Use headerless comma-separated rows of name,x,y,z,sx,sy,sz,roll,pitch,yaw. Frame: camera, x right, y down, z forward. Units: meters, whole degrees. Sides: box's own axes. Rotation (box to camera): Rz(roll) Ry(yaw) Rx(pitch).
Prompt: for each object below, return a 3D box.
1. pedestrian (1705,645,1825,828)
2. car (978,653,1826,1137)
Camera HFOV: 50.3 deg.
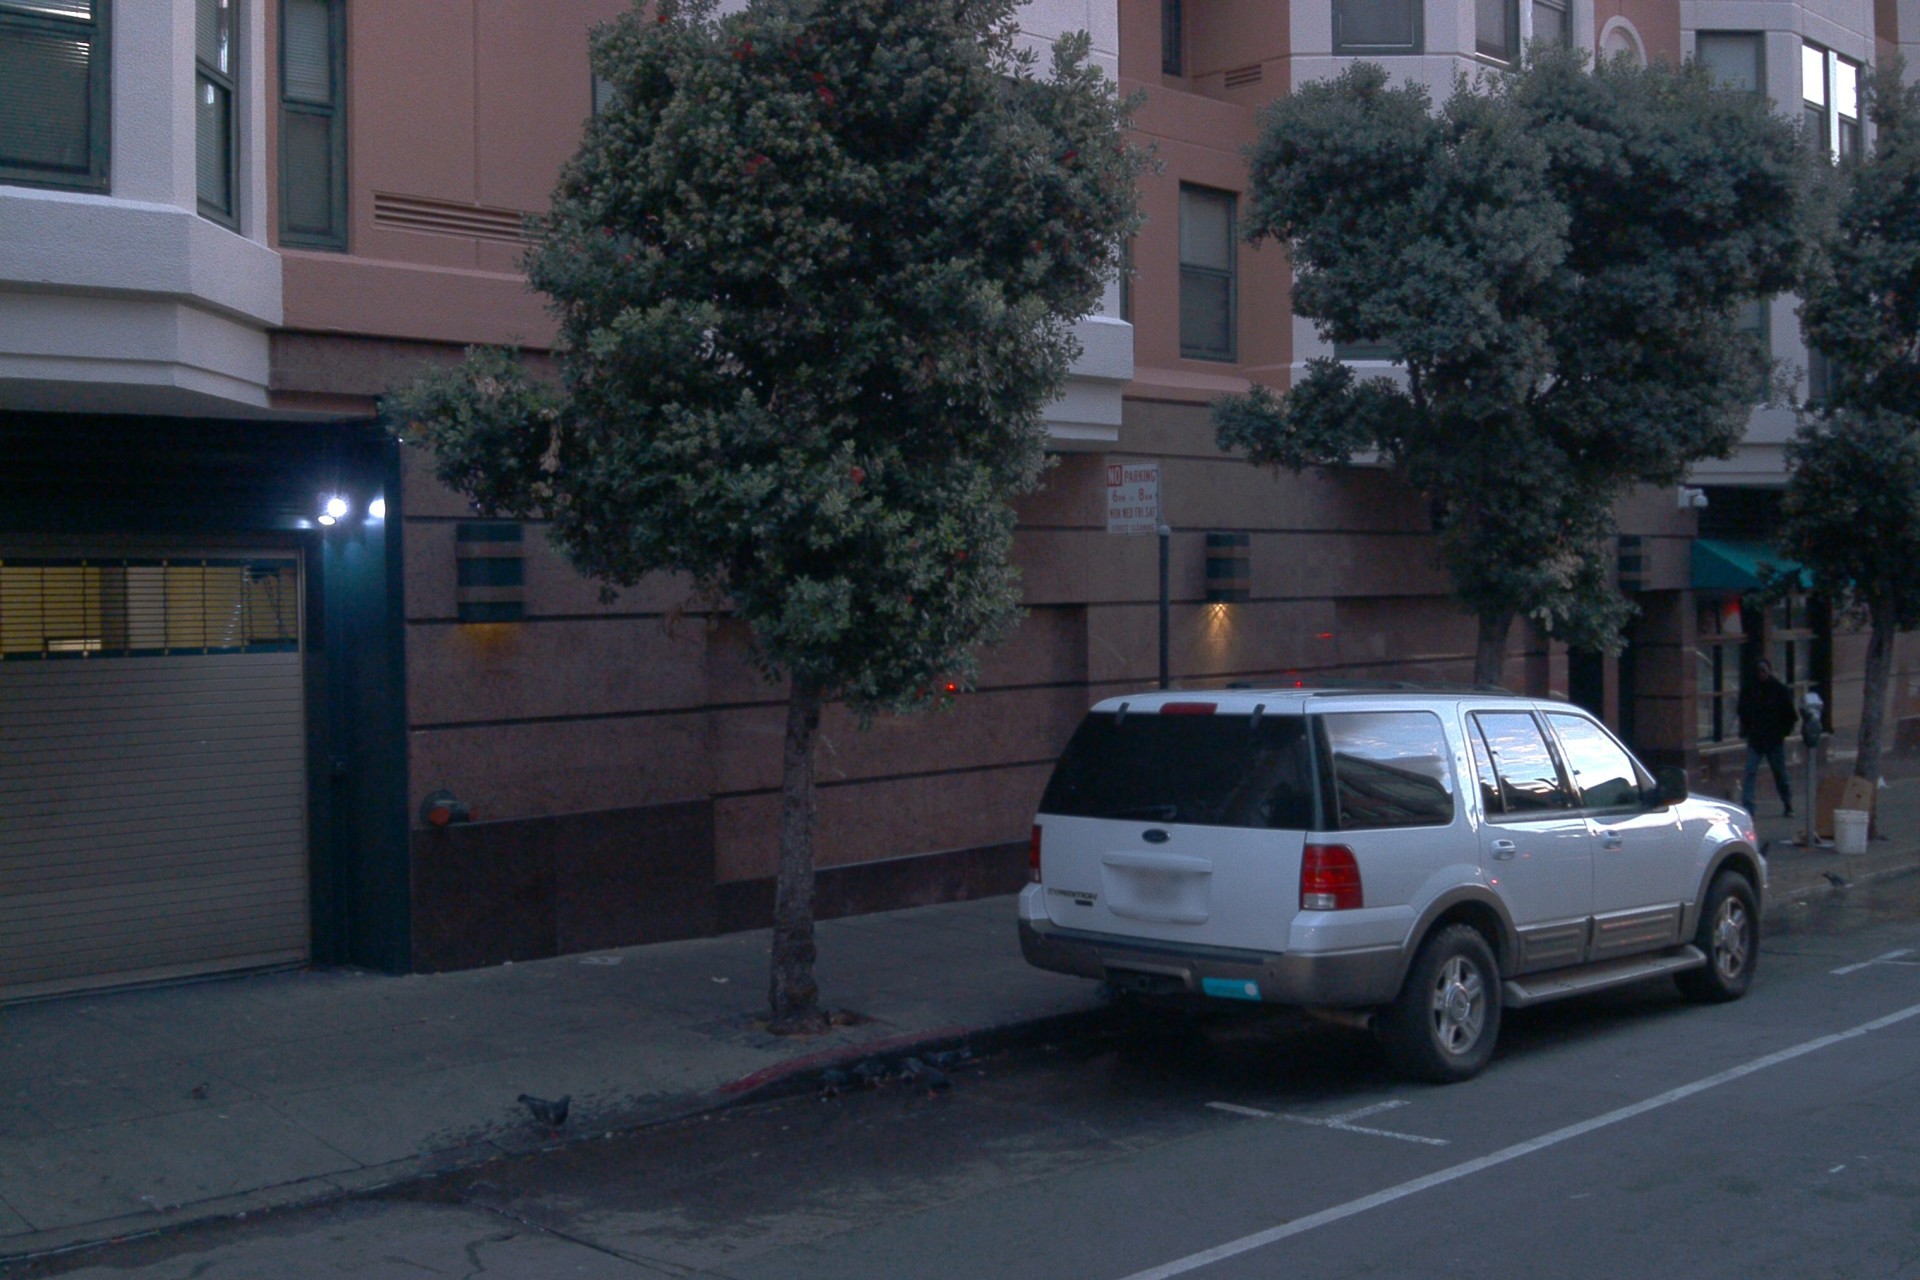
pedestrian,8.538,0.994,21.705,0.828,1.860,1.059,1,1,44
car,2.667,1.113,11.382,2.194,1.990,5.086,1,1,45
